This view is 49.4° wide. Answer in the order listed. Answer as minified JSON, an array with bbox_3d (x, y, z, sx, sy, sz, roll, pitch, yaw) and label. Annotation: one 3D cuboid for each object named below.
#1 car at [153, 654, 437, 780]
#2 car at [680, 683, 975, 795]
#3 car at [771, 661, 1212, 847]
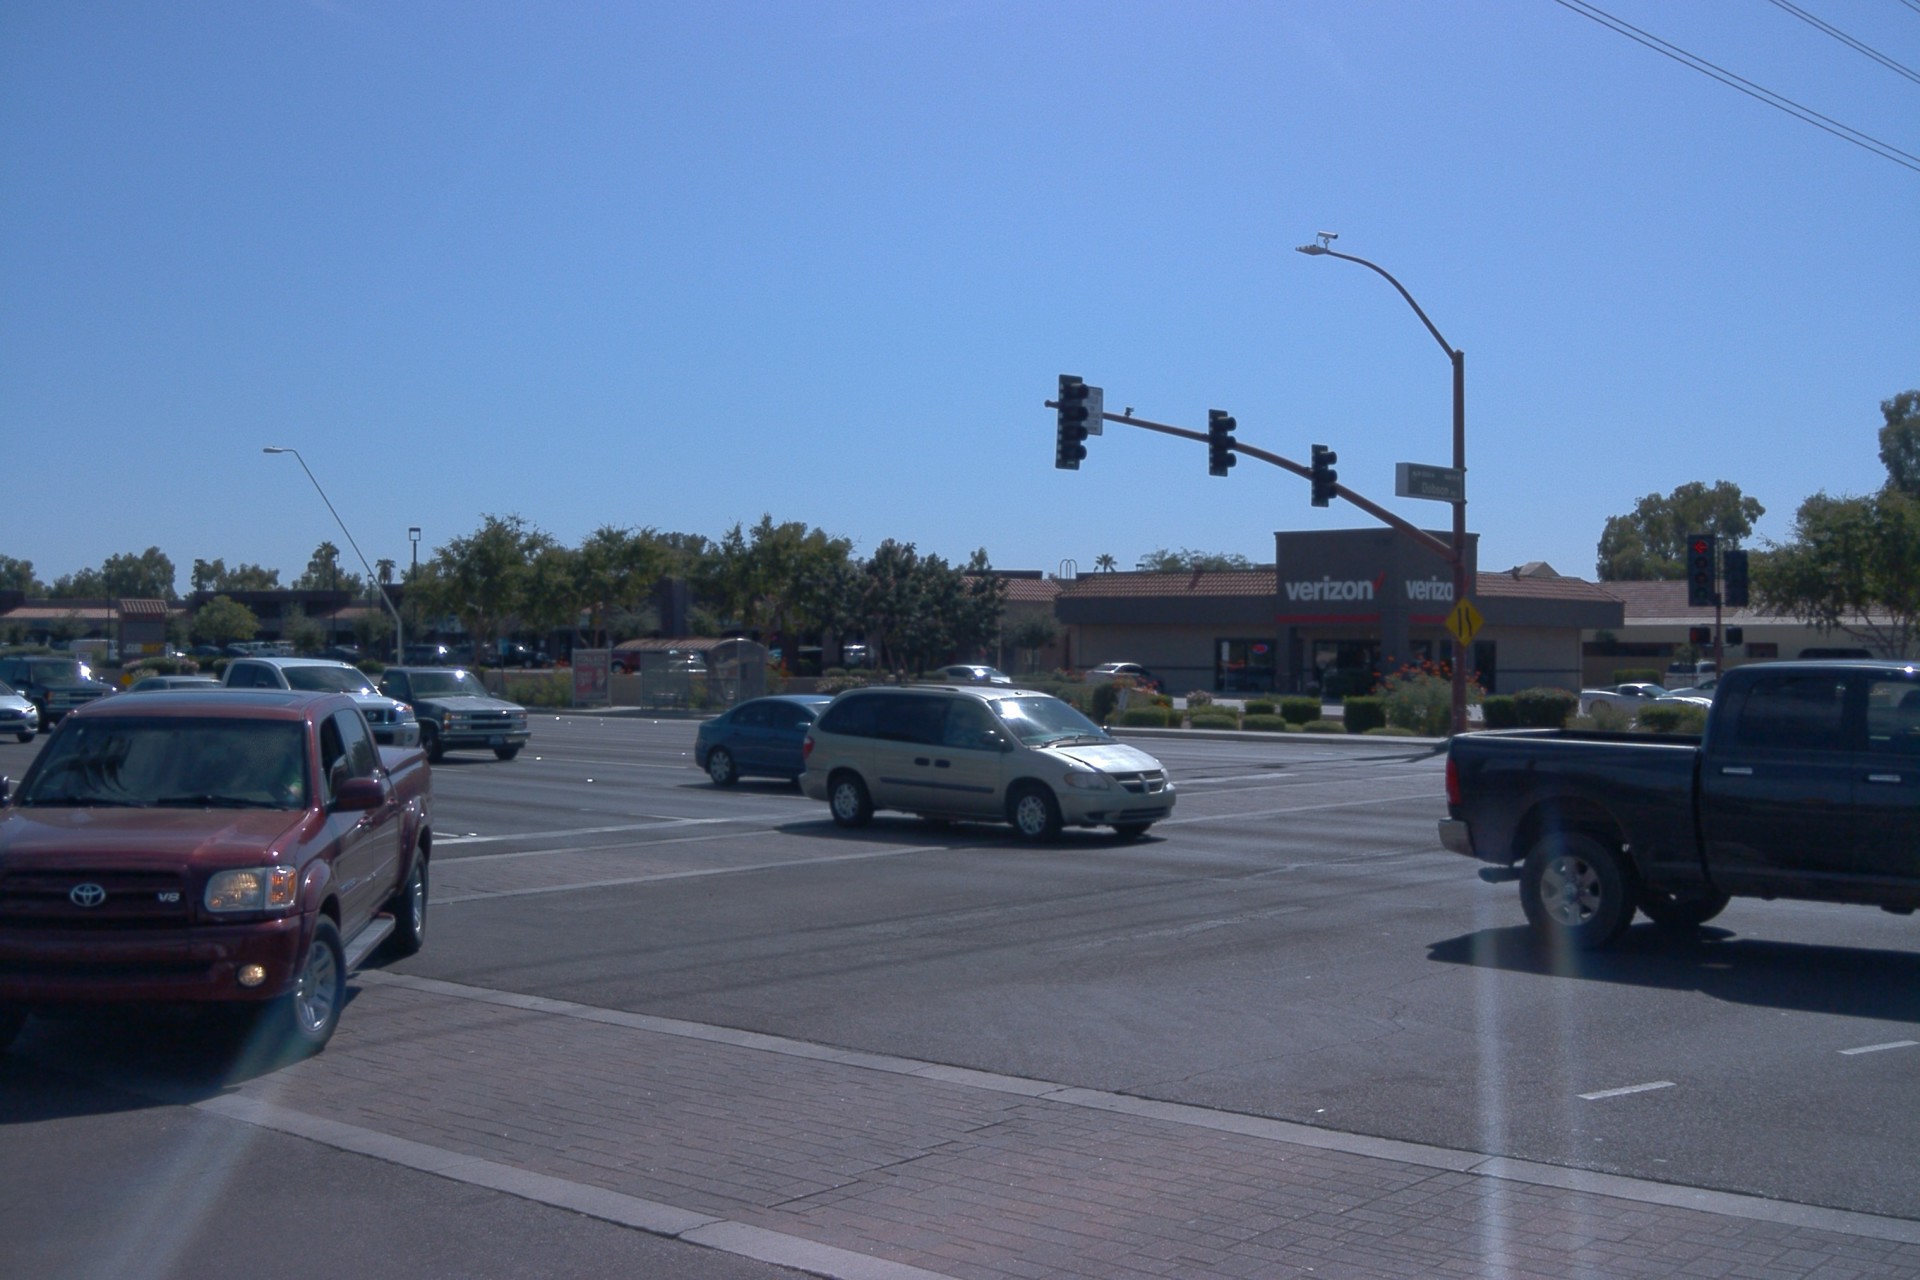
[{"bbox_3d":[-11.628,1.257,36.258,5.691,2.010,2.278,0,-1,44],"label":"car"},{"bbox_3d":[-2.088,1.460,32.121,4.446,1.540,2.057,0,-1,44],"label":"car"},{"bbox_3d":[0.261,1.237,24.708,5.168,1.950,2.147,0,-1,45],"label":"car"}]
